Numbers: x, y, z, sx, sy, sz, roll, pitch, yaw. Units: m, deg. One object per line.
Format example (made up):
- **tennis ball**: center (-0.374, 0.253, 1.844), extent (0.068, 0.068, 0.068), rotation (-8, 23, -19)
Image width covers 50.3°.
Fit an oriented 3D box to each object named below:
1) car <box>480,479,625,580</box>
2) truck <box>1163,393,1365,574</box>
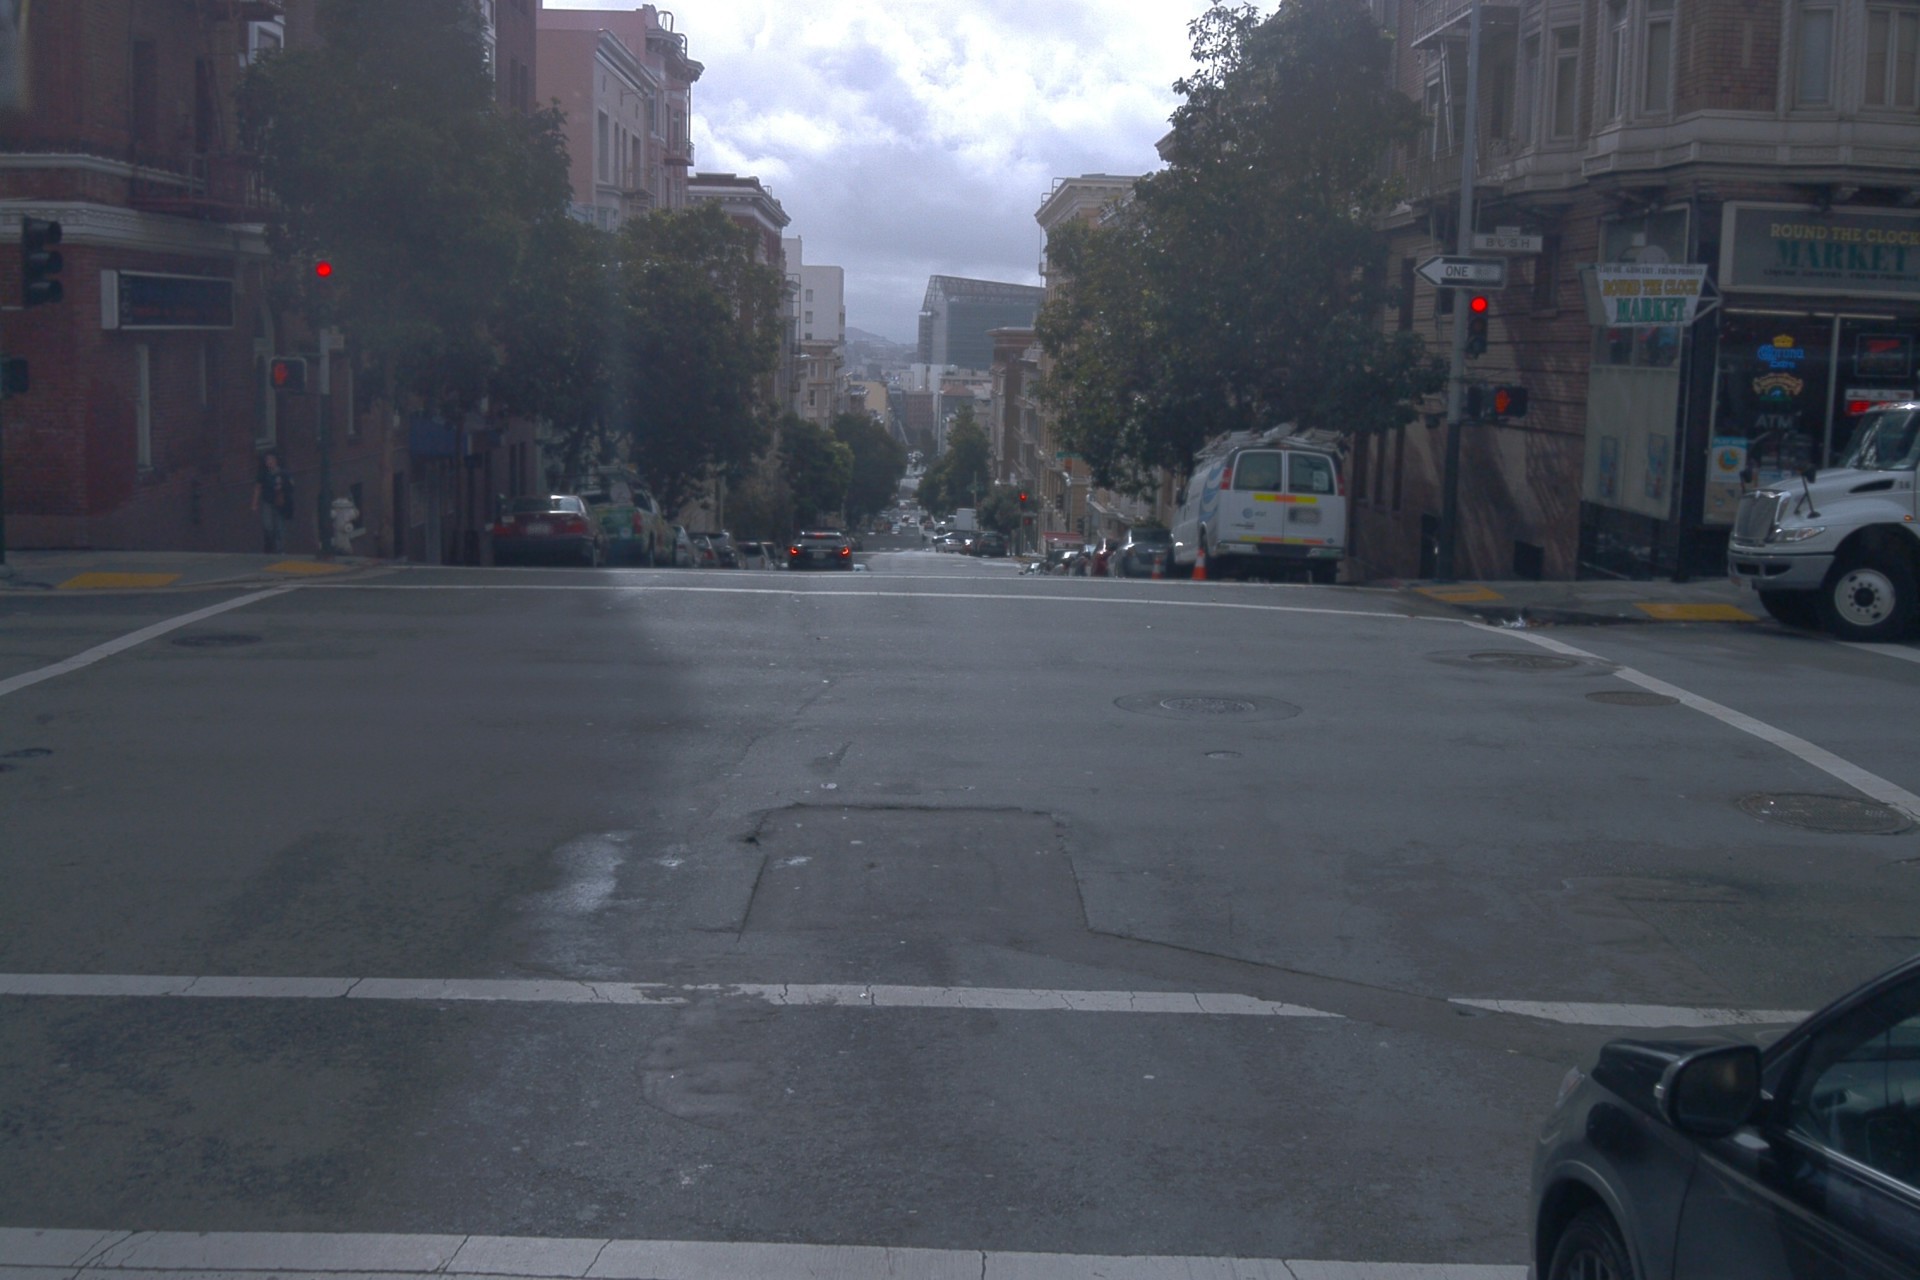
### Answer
- **car**: center (-6.888, -1.843, 34.930), extent (1.759, 1.530, 4.100), rotation (1, 1, -2)
- **truck**: center (4.594, -2.319, 31.770), extent (2.117, 2.450, 5.100), rotation (1, 1, -3)
